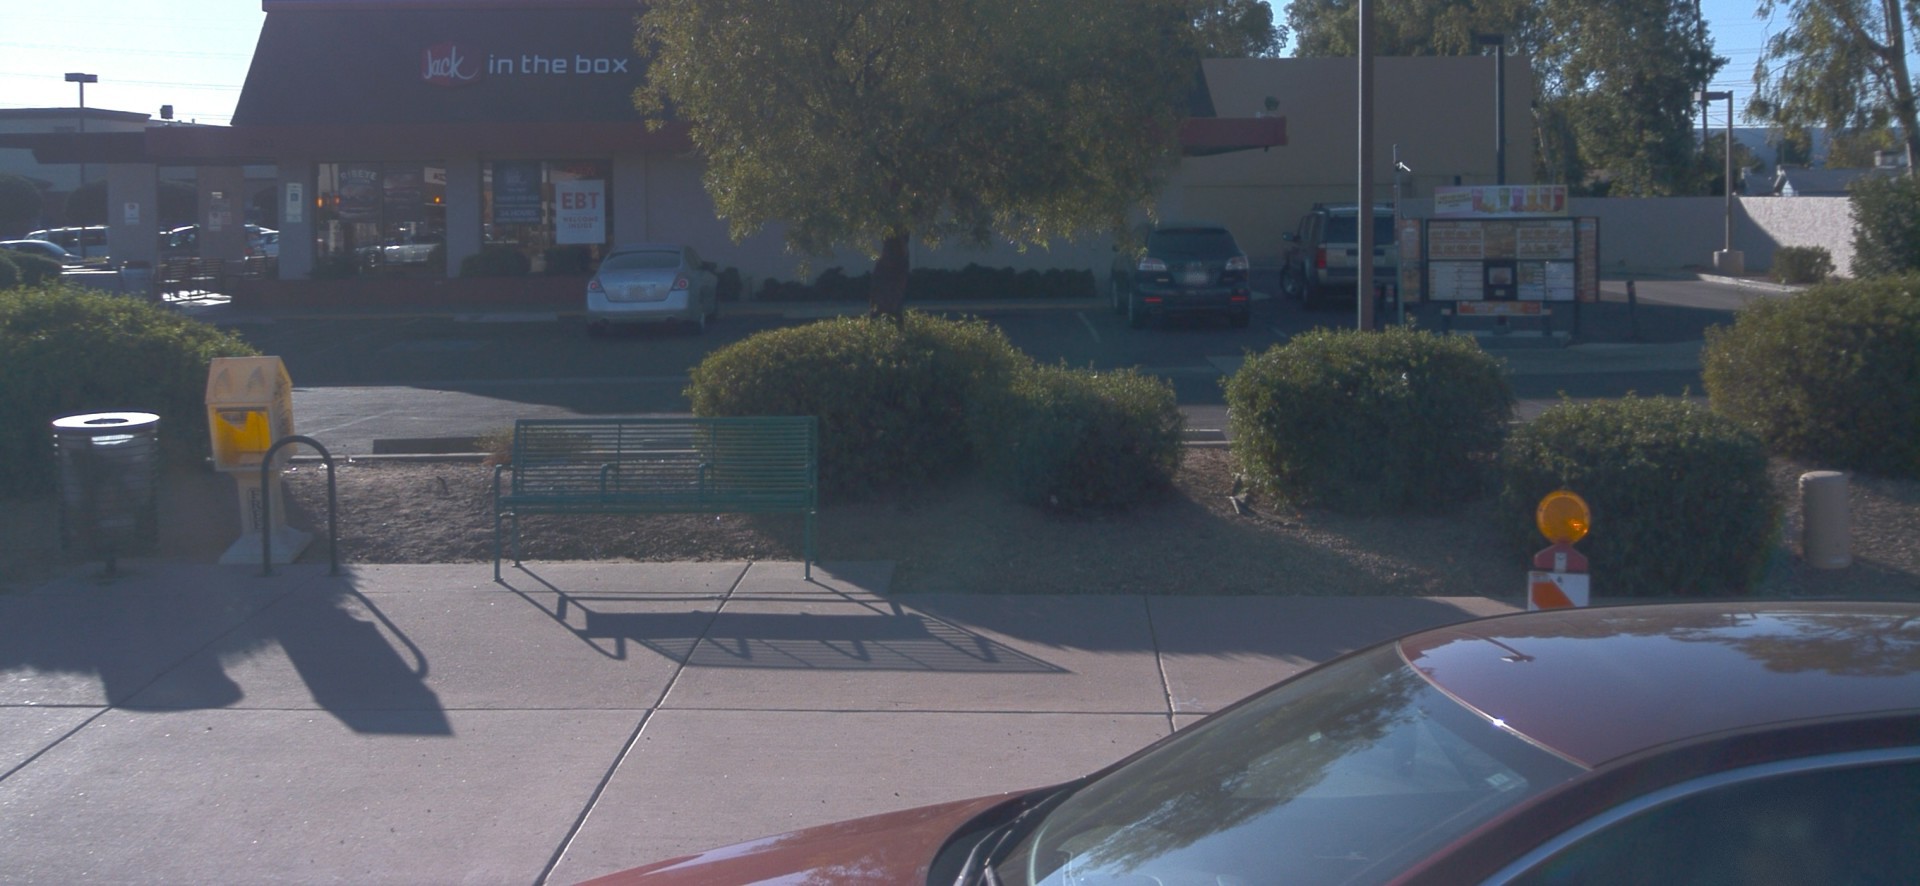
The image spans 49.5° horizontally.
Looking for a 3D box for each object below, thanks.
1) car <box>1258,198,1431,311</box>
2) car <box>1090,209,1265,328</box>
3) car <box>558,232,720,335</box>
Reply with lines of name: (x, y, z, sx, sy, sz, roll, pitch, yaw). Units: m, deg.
car: (6.842, -3.410, 37.648, 2.142, 1.894, 5.075, 0, 5, -1)
car: (3.498, -2.911, 34.444, 2.187, 1.814, 4.819, 0, 5, -3)
car: (-5.240, -2.687, 34.655, 2.061, 1.575, 4.979, 0, 5, -2)
